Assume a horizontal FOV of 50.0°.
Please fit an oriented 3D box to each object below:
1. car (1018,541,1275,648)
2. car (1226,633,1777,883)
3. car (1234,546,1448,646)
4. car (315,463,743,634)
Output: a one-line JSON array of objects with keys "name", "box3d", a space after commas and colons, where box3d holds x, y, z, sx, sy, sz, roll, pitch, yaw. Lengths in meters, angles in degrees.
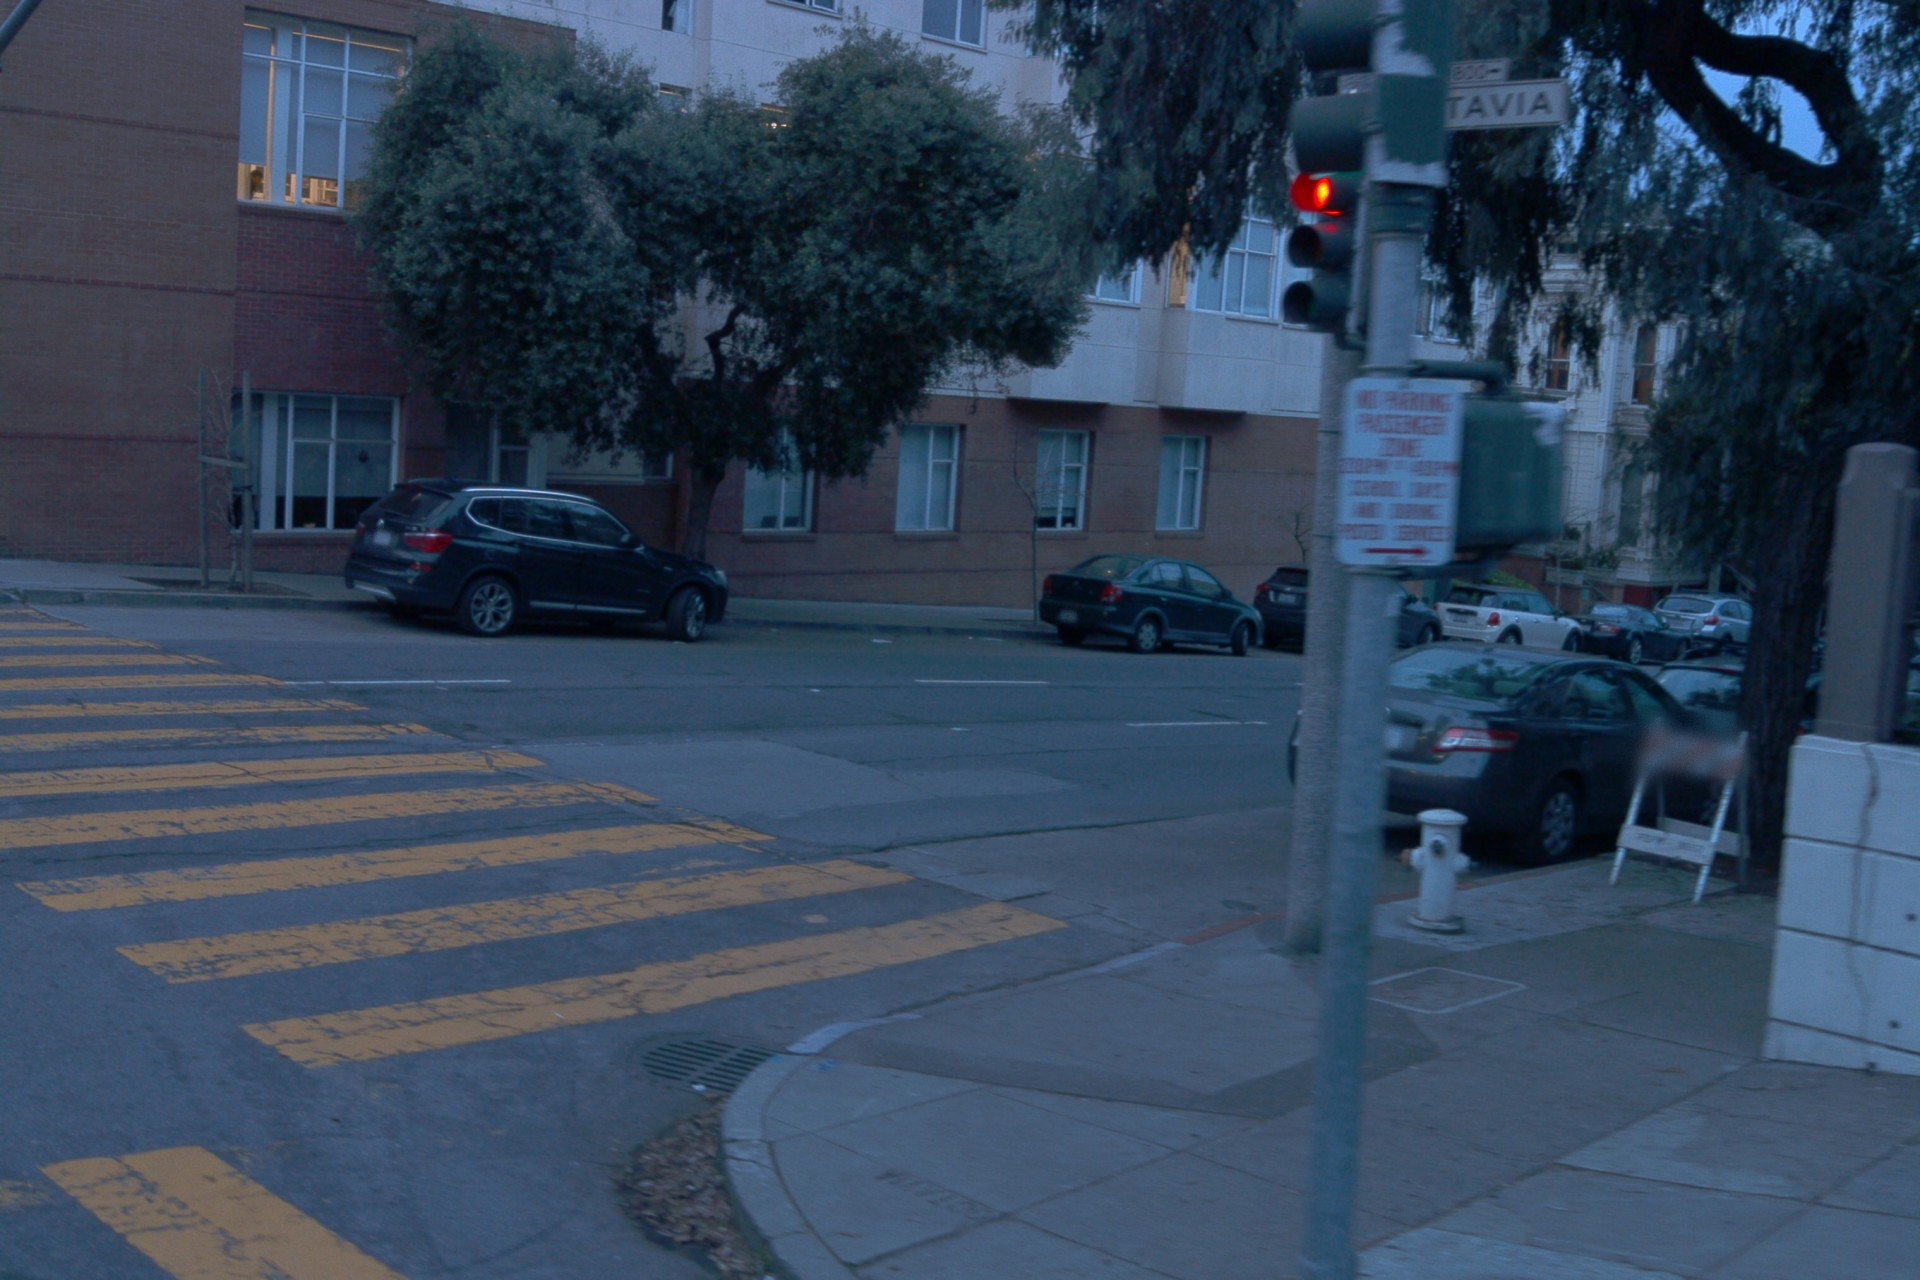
[{"name": "car", "box3d": [2.952, -0.682, 32.125, 3.956, 1.560, 1.886, 0, 1, -45]}, {"name": "car", "box3d": [4.240, 0.759, 15.628, 2.072, 1.590, 4.609, 1, 1, 43]}, {"name": "car", "box3d": [6.751, -0.743, 36.264, 1.839, 1.650, 3.967, 1, 1, 43]}, {"name": "car", "box3d": [-4.916, -0.982, 23.955, 2.050, 1.780, 4.500, 1, 1, 43]}]
